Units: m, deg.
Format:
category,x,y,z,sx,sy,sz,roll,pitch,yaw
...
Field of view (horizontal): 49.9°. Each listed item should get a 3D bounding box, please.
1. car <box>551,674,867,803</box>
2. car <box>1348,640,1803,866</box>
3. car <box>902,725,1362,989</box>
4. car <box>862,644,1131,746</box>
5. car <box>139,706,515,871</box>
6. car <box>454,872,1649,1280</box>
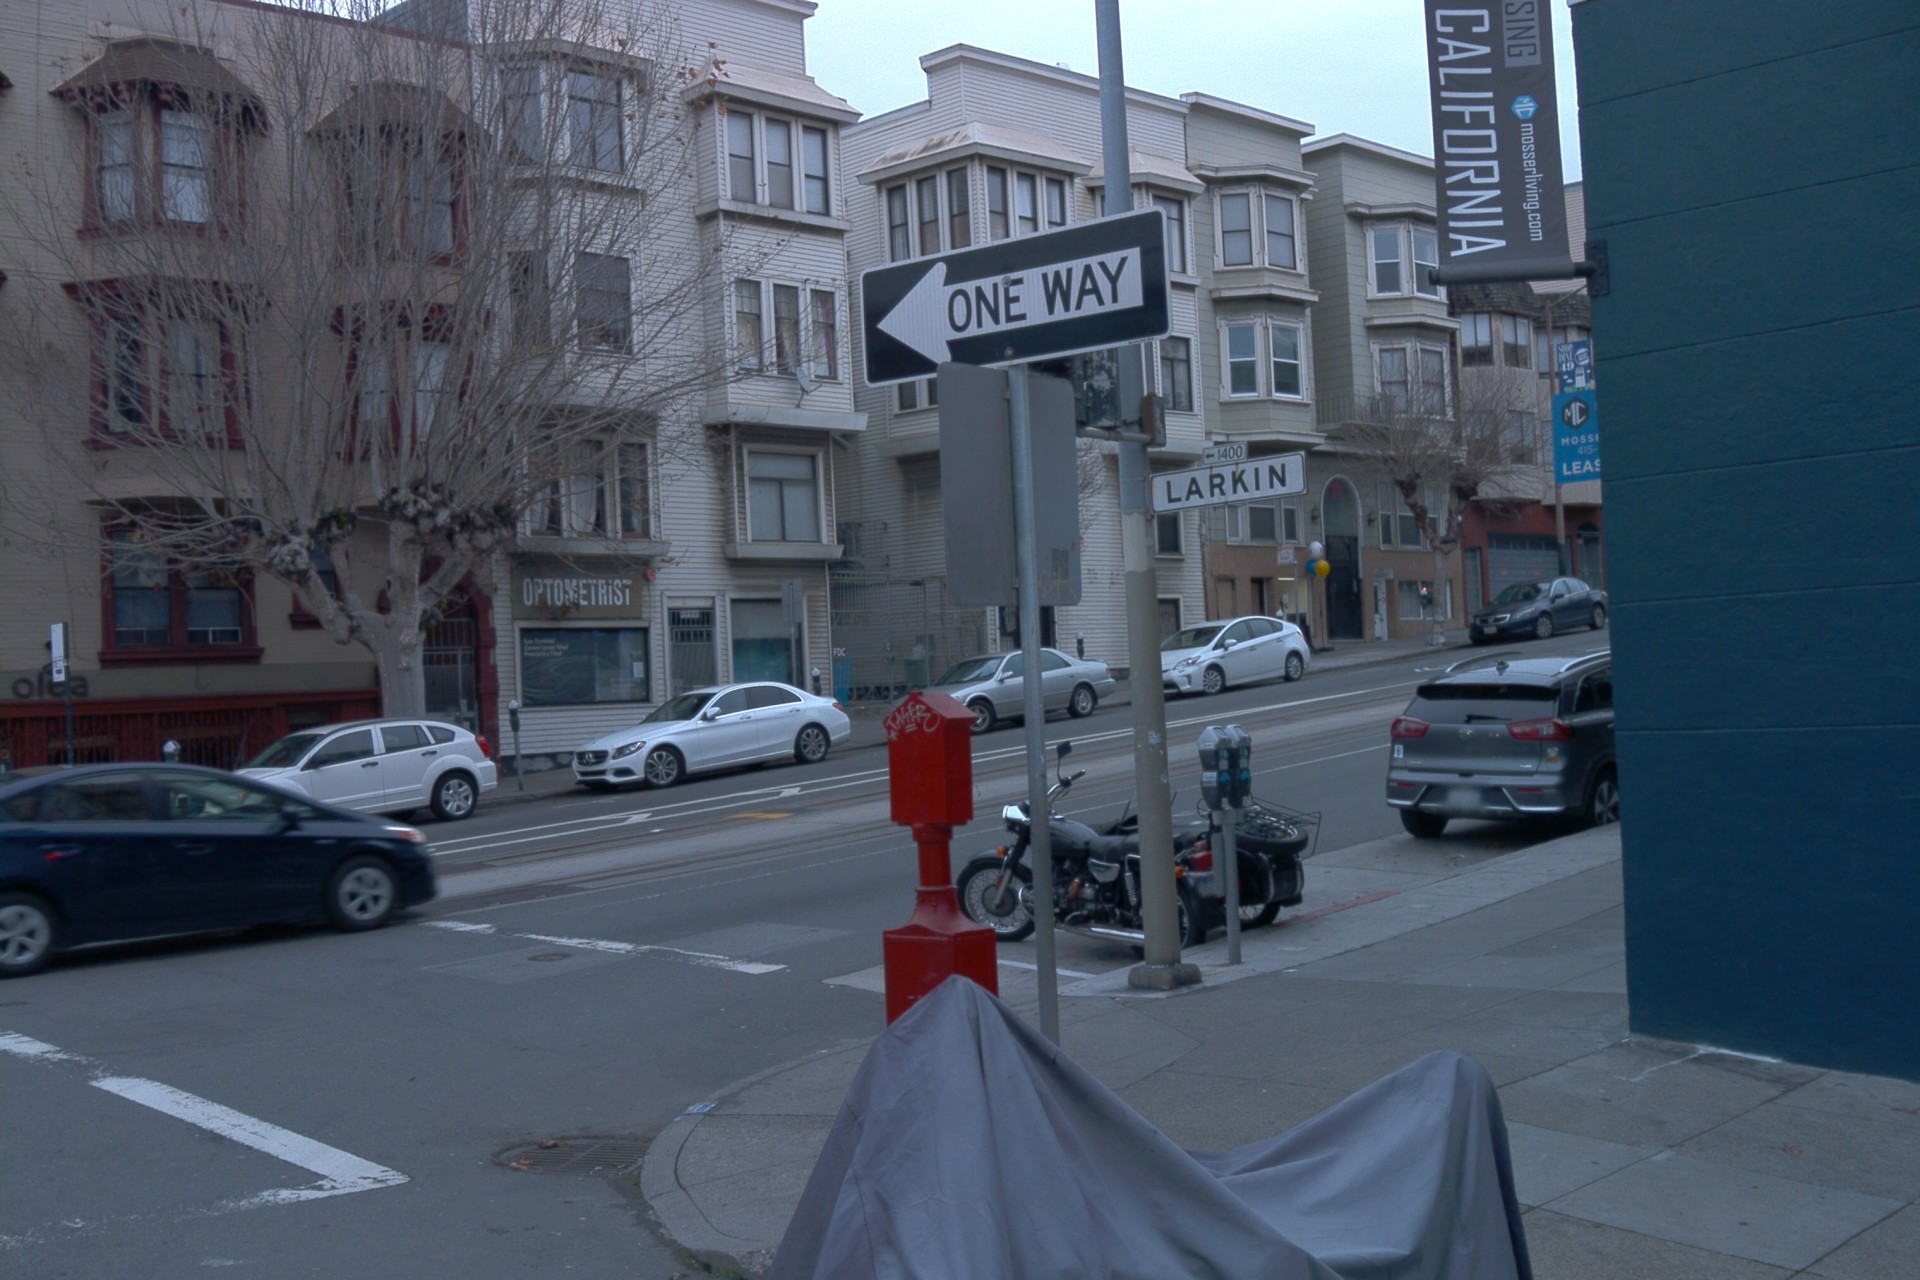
category,x,y,z,sx,sy,sz,roll,pitch,yaw
car,-3.869,1.466,32.362,4.589,1.757,2.074,-1,1,-44
car,5.647,0.885,18.583,2.132,1.717,4.606,0,1,42
car,1.135,1.379,14.055,2.745,1.460,1.540,0,1,42
car,0.716,0.921,37.121,4.801,1.657,2.084,-1,1,-45
car,-8.479,1.918,27.920,2.053,1.847,4.407,1,1,44
car,0.333,1.393,4.286,2.490,1.520,1.048,-1,1,-44
